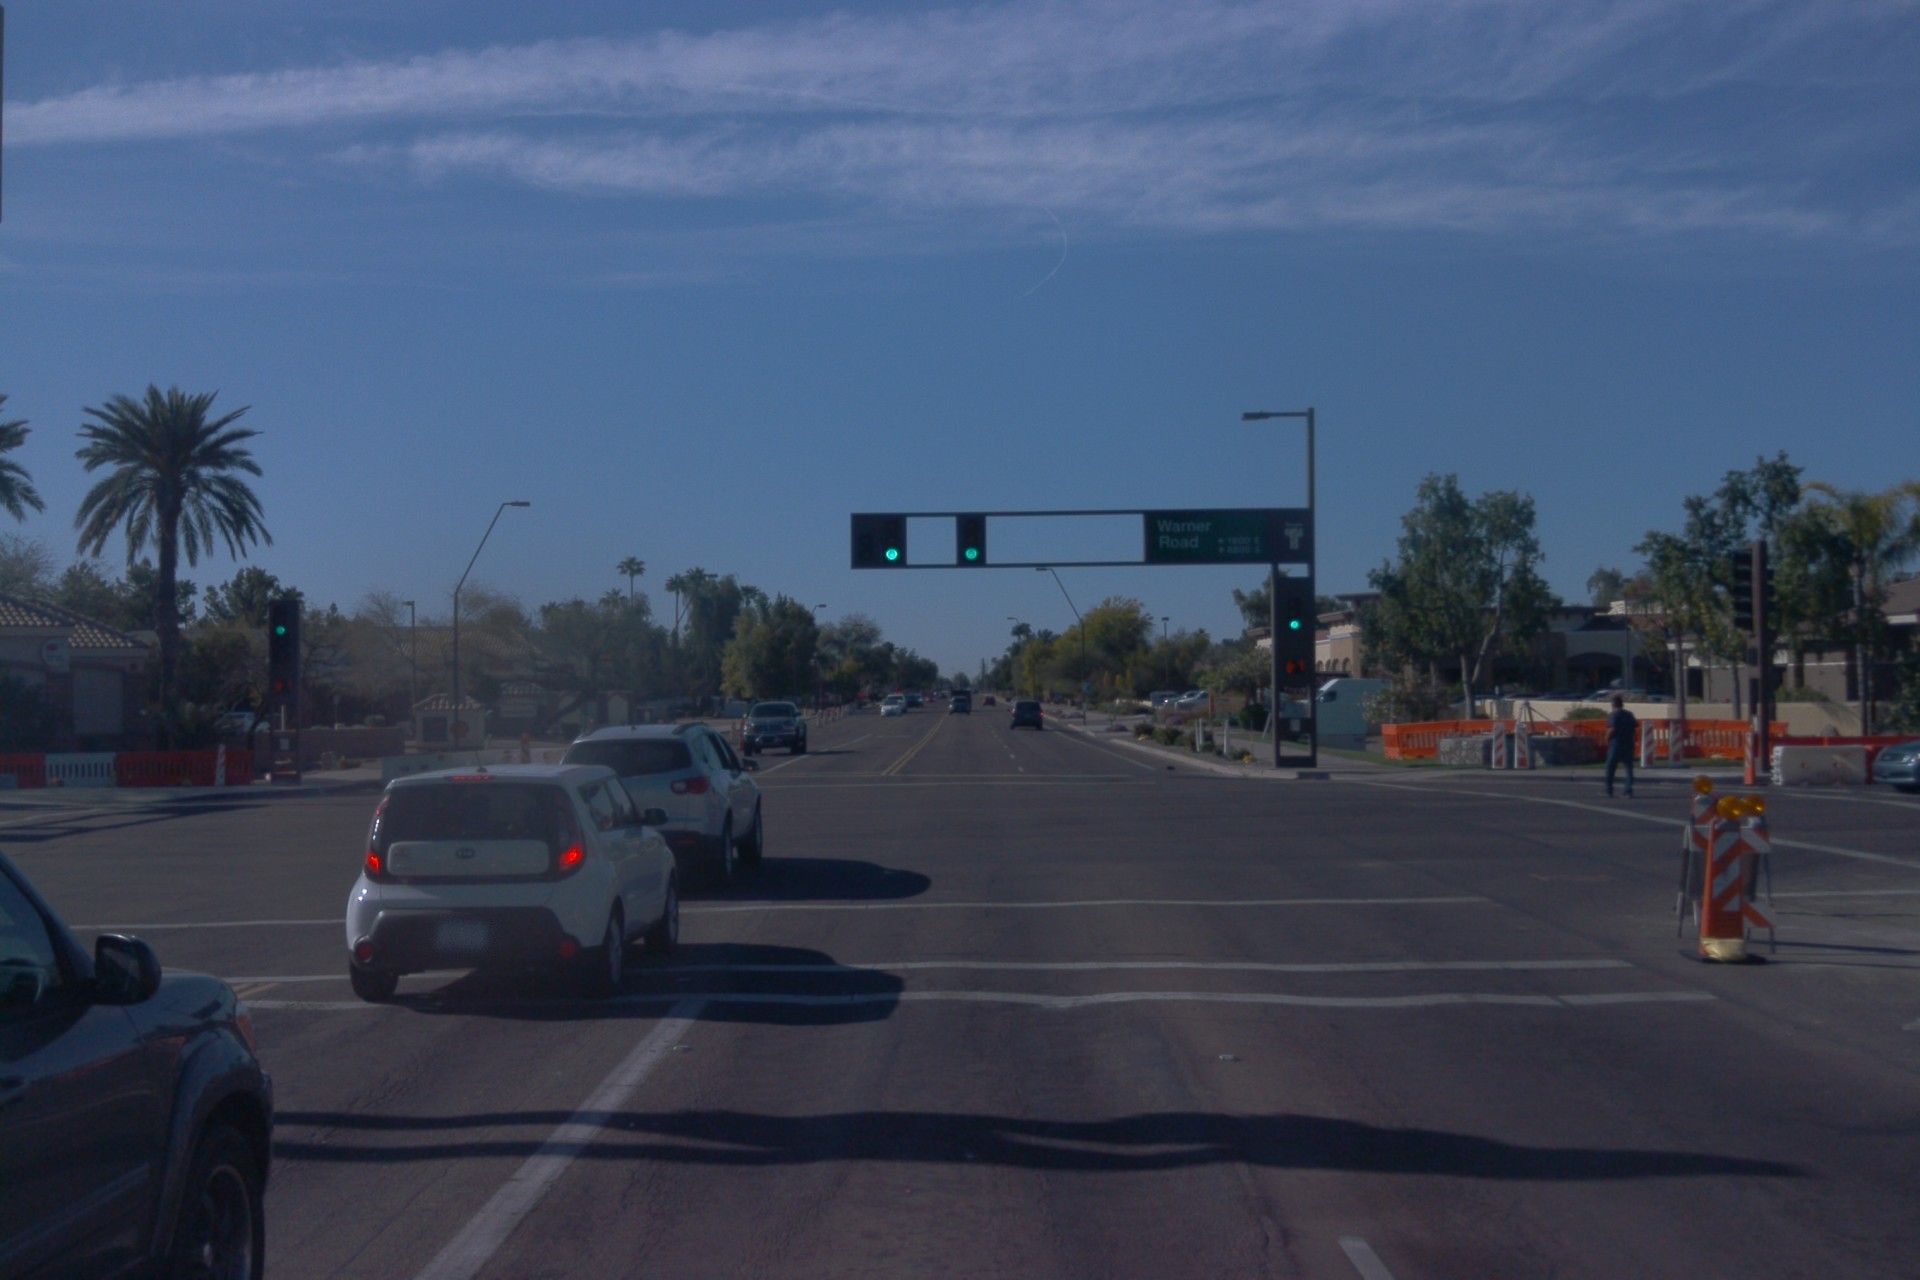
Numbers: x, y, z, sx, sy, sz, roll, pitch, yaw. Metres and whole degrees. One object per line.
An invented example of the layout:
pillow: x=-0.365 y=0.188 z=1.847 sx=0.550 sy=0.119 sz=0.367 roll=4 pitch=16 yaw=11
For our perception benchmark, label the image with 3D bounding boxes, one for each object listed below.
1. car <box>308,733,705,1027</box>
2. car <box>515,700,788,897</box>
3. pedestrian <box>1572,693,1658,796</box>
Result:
car: x=-3.179 y=1.636 z=15.556 sx=2.020 sy=1.780 sz=4.419 roll=0 pitch=-1 yaw=0
car: x=-3.362 y=1.695 z=23.754 sx=2.259 sy=1.970 sz=4.993 roll=0 pitch=-1 yaw=1
pedestrian: x=11.359 y=1.795 z=36.105 sx=1.027 sy=1.760 sz=0.980 roll=0 pitch=-1 yaw=-18
